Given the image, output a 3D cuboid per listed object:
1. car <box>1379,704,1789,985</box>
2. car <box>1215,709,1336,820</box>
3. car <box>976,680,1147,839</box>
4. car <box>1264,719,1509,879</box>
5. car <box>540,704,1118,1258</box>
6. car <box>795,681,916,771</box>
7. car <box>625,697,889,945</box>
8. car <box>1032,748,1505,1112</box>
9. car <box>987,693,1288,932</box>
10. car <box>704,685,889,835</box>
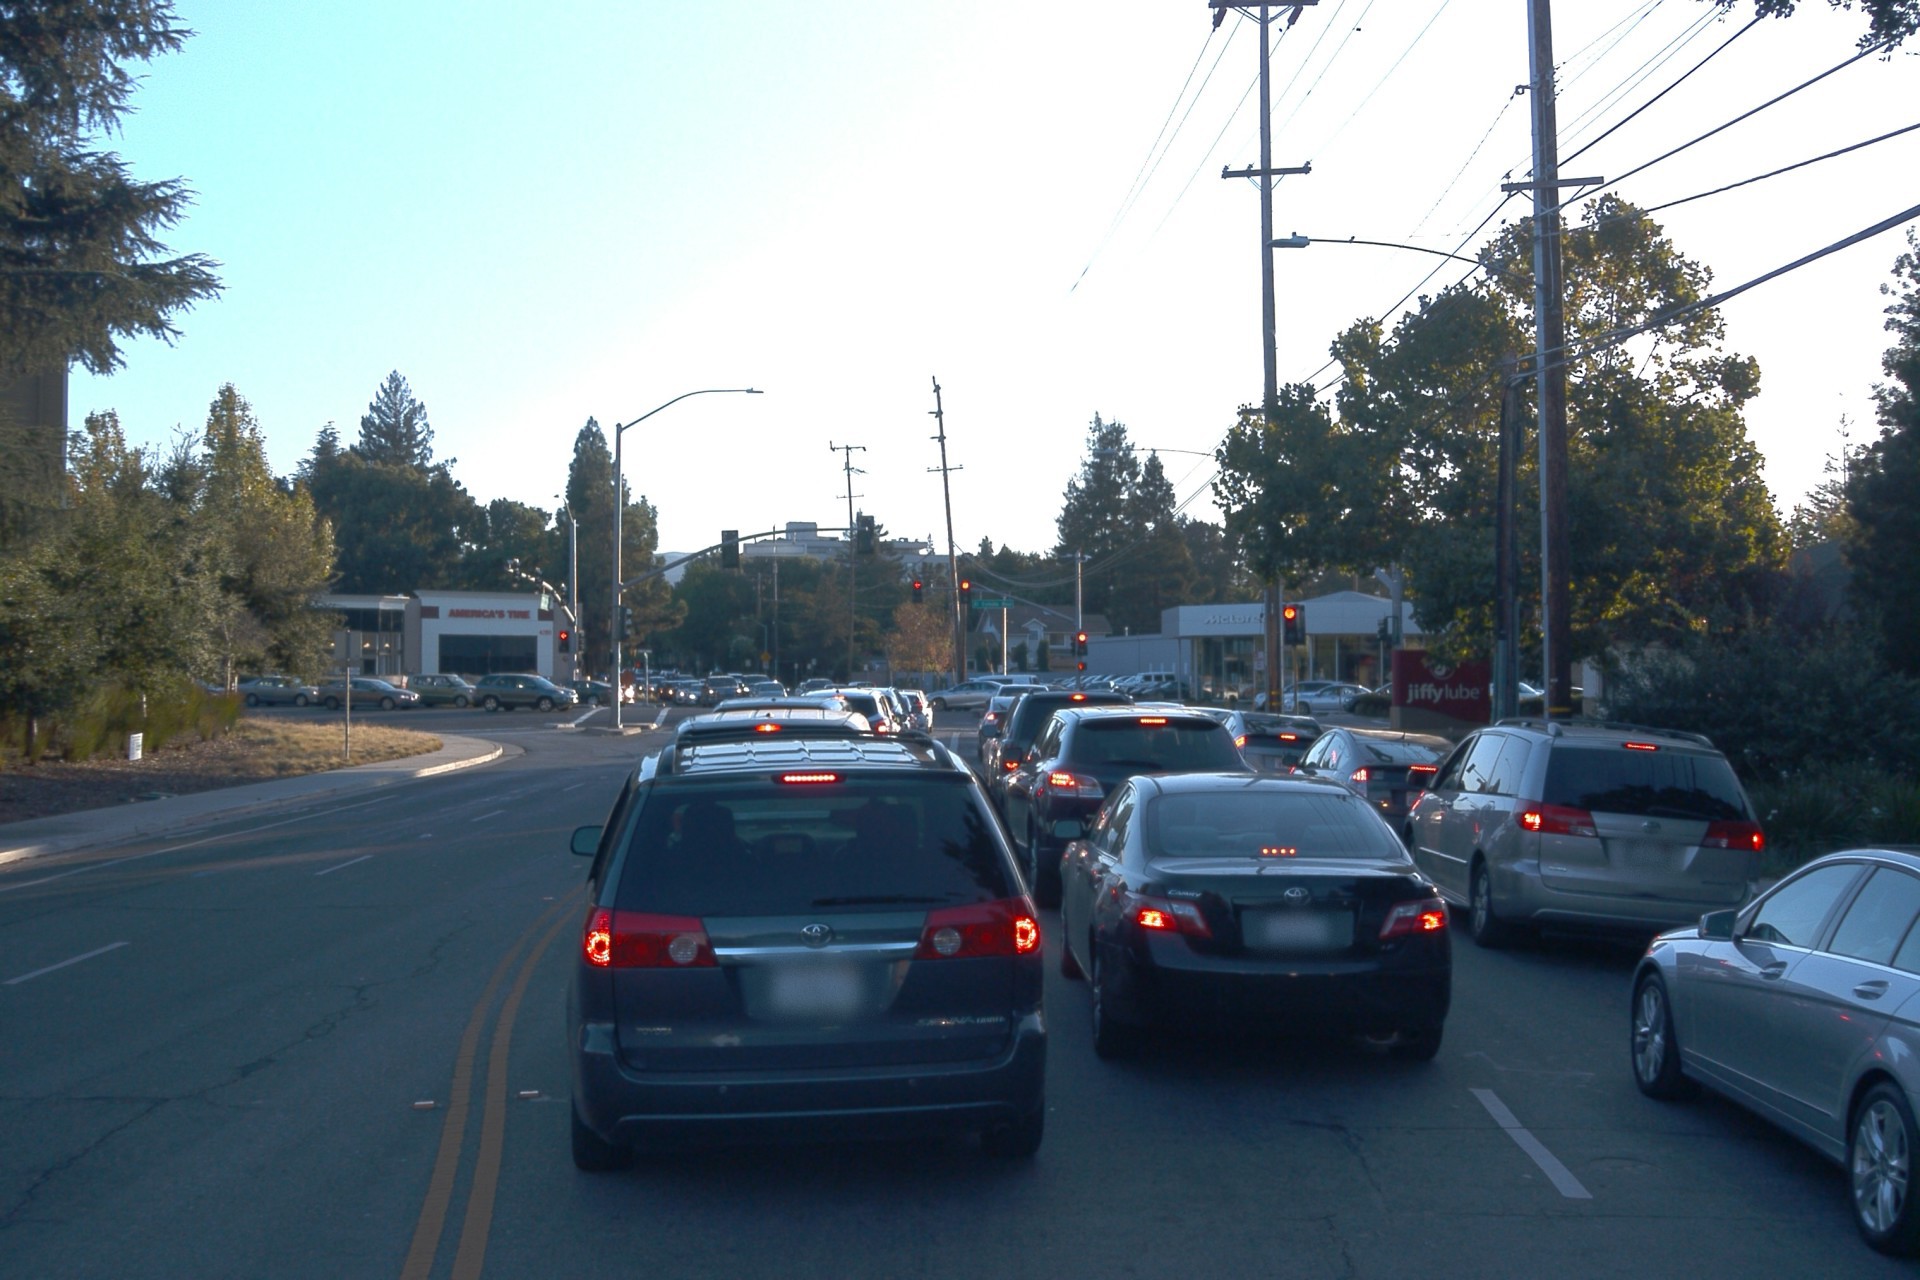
[{"bbox_3d":[4.903,1.521,17.100,2.061,1.850,4.903,0,0,2],"label":"car"},{"bbox_3d":[4.670,1.819,30.934,1.418,1.490,3.138,0,0,2],"label":"car"},{"bbox_3d":[1.186,1.414,25.823,1.759,1.770,3.957,0,0,-3],"label":"car"},{"bbox_3d":[4.676,1.707,23.273,1.785,1.510,4.026,0,0,-2],"label":"car"},{"bbox_3d":[-0.874,1.303,10.233,2.102,1.830,5.461,0,0,-9],"label":"car"},{"bbox_3d":[-1.660,1.371,33.817,1.709,1.350,3.337,0,0,2],"label":"car"},{"bbox_3d":[-1.467,1.304,16.300,1.812,1.620,4.042,0,0,-2],"label":"car"},{"bbox_3d":[1.529,1.477,11.982,1.915,1.490,4.528,0,0,-2],"label":"car"},{"bbox_3d":[1.458,1.433,18.832,1.992,1.810,4.553,0,0,-5],"label":"car"},{"bbox_3d":[-1.862,1.357,24.685,1.760,1.570,3.956,0,0,2],"label":"car"}]
